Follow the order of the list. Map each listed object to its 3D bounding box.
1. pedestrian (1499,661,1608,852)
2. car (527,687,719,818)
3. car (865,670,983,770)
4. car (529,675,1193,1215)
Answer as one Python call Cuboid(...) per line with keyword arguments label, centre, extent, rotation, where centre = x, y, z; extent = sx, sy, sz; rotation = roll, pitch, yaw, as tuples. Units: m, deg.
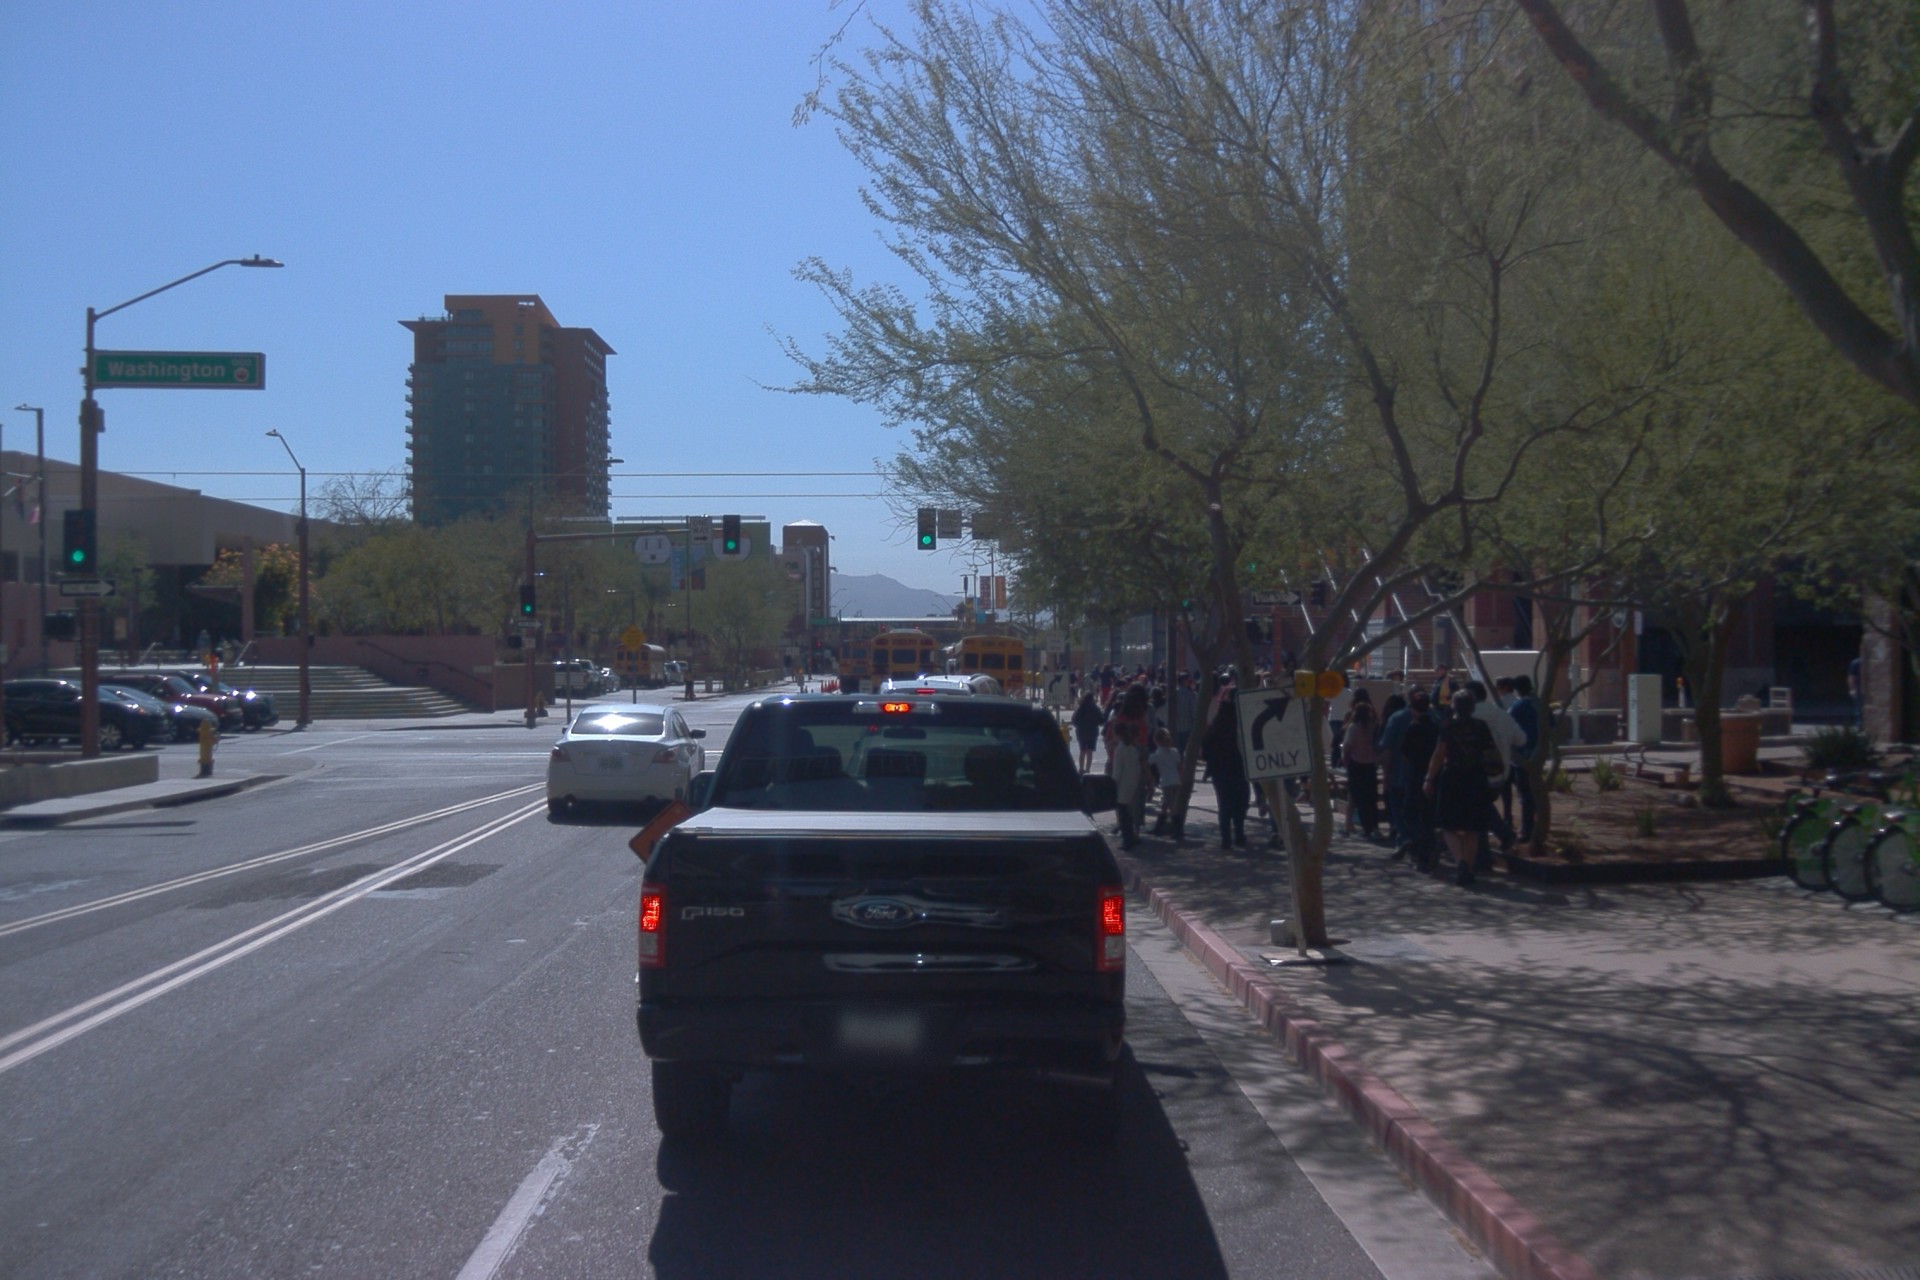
Cuboid(label="pedestrian", centre=(5.963, 1.151, 20.919), extent=(0.835, 1.880, 0.792), rotation=(0, 0, -2))
Cuboid(label="car", centre=(-4.549, 1.480, 28.766), extent=(2.094, 1.570, 4.889), rotation=(0, 0, -3))
Cuboid(label="car", centre=(-0.516, 1.225, 33.158), extent=(1.753, 1.430, 4.270), rotation=(0, 0, 1))
Cuboid(label="car", centre=(-0.356, 1.189, 10.474), extent=(2.486, 1.950, 5.329), rotation=(0, 0, 0))
